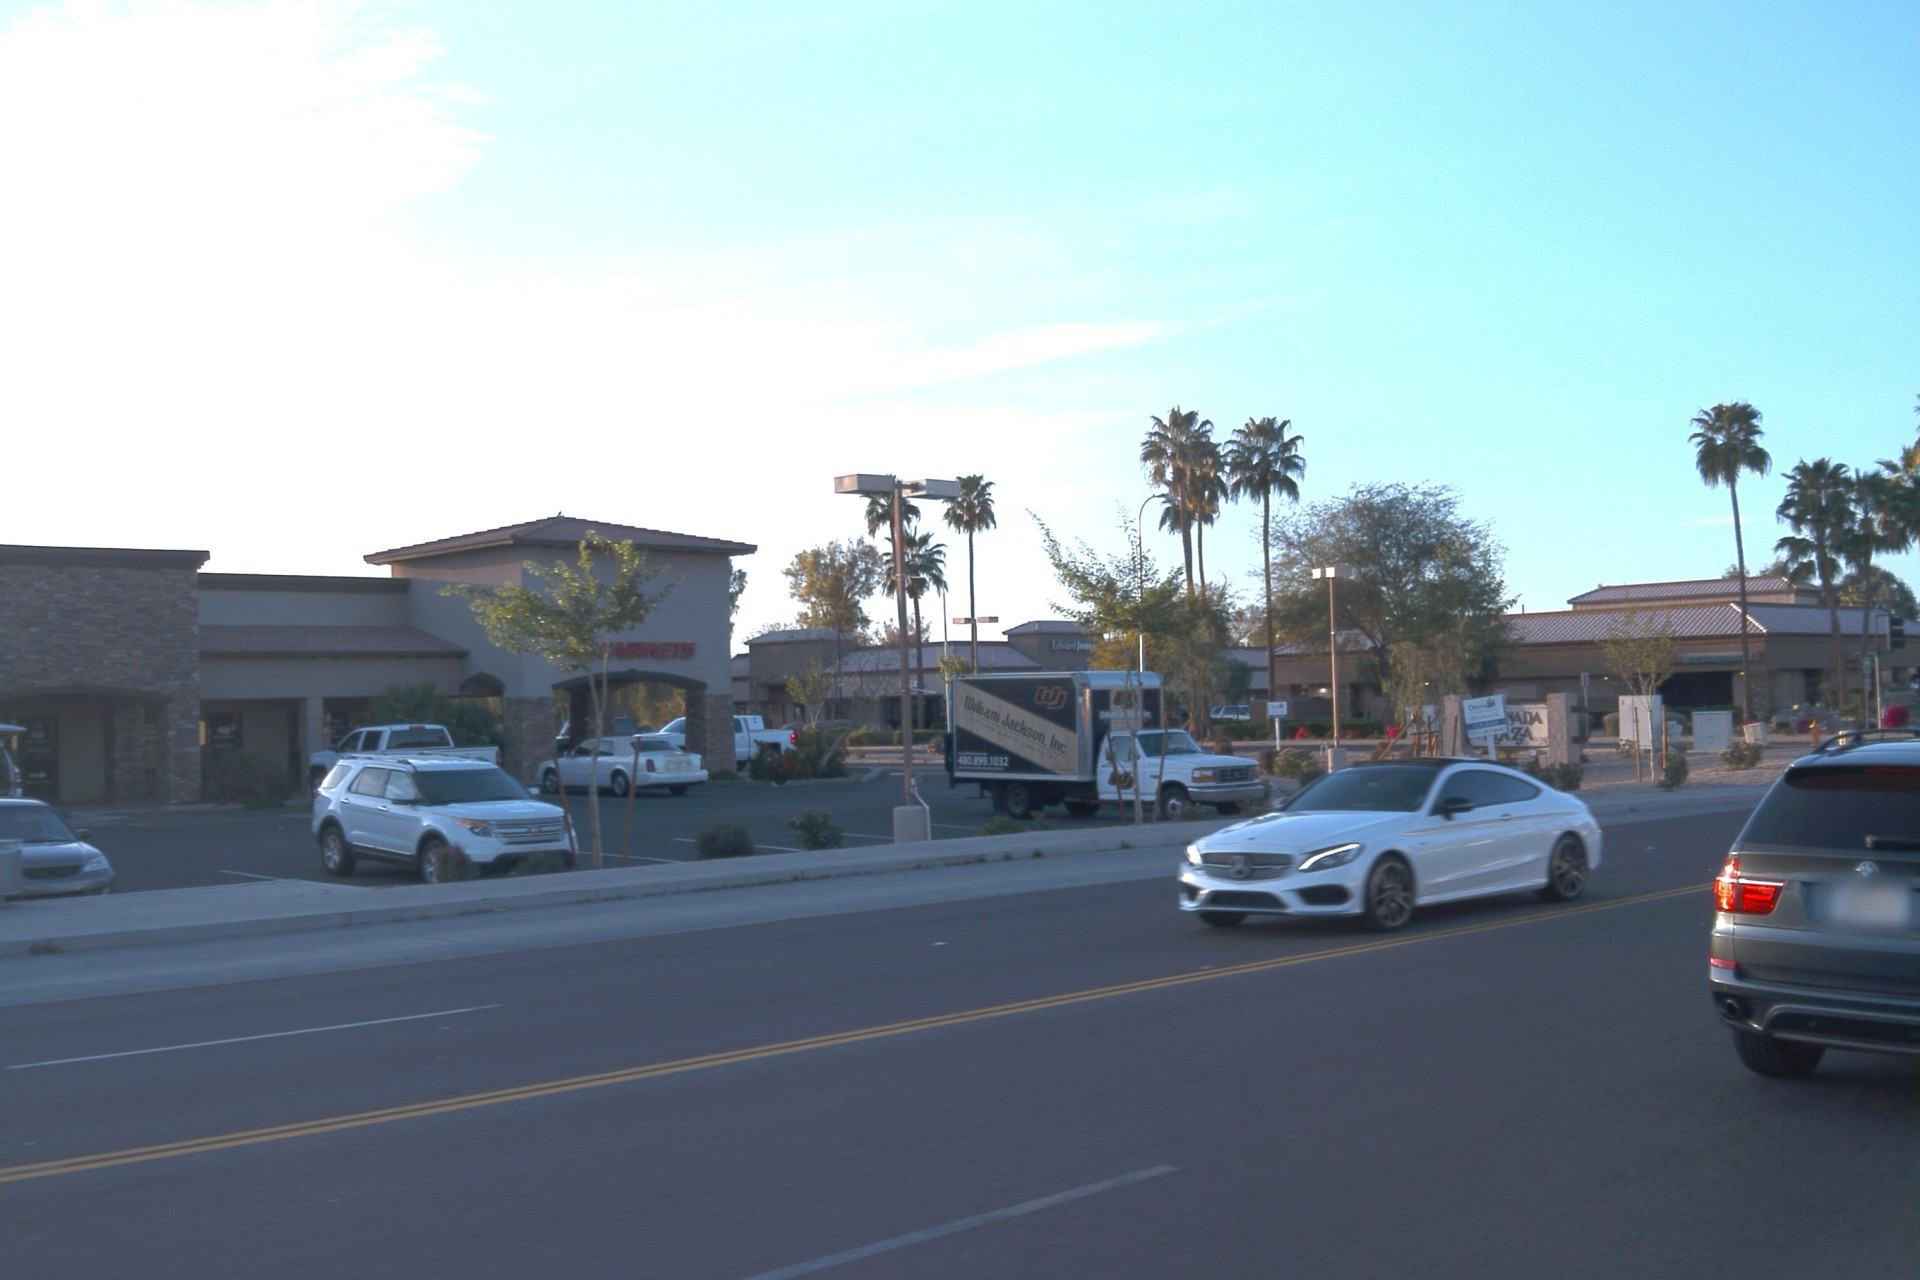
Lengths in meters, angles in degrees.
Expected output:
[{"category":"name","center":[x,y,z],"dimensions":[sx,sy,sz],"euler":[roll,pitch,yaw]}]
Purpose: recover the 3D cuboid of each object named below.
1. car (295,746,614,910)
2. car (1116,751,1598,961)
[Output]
[{"category":"car","center":[-7.387,2.618,29.662],"dimensions":[2.288,1.960,4.897],"euler":[0,-1,-45]},{"category":"car","center":[3.693,1.835,18.535],"dimensions":[4.583,1.450,2.031],"euler":[0,-1,-44]}]
